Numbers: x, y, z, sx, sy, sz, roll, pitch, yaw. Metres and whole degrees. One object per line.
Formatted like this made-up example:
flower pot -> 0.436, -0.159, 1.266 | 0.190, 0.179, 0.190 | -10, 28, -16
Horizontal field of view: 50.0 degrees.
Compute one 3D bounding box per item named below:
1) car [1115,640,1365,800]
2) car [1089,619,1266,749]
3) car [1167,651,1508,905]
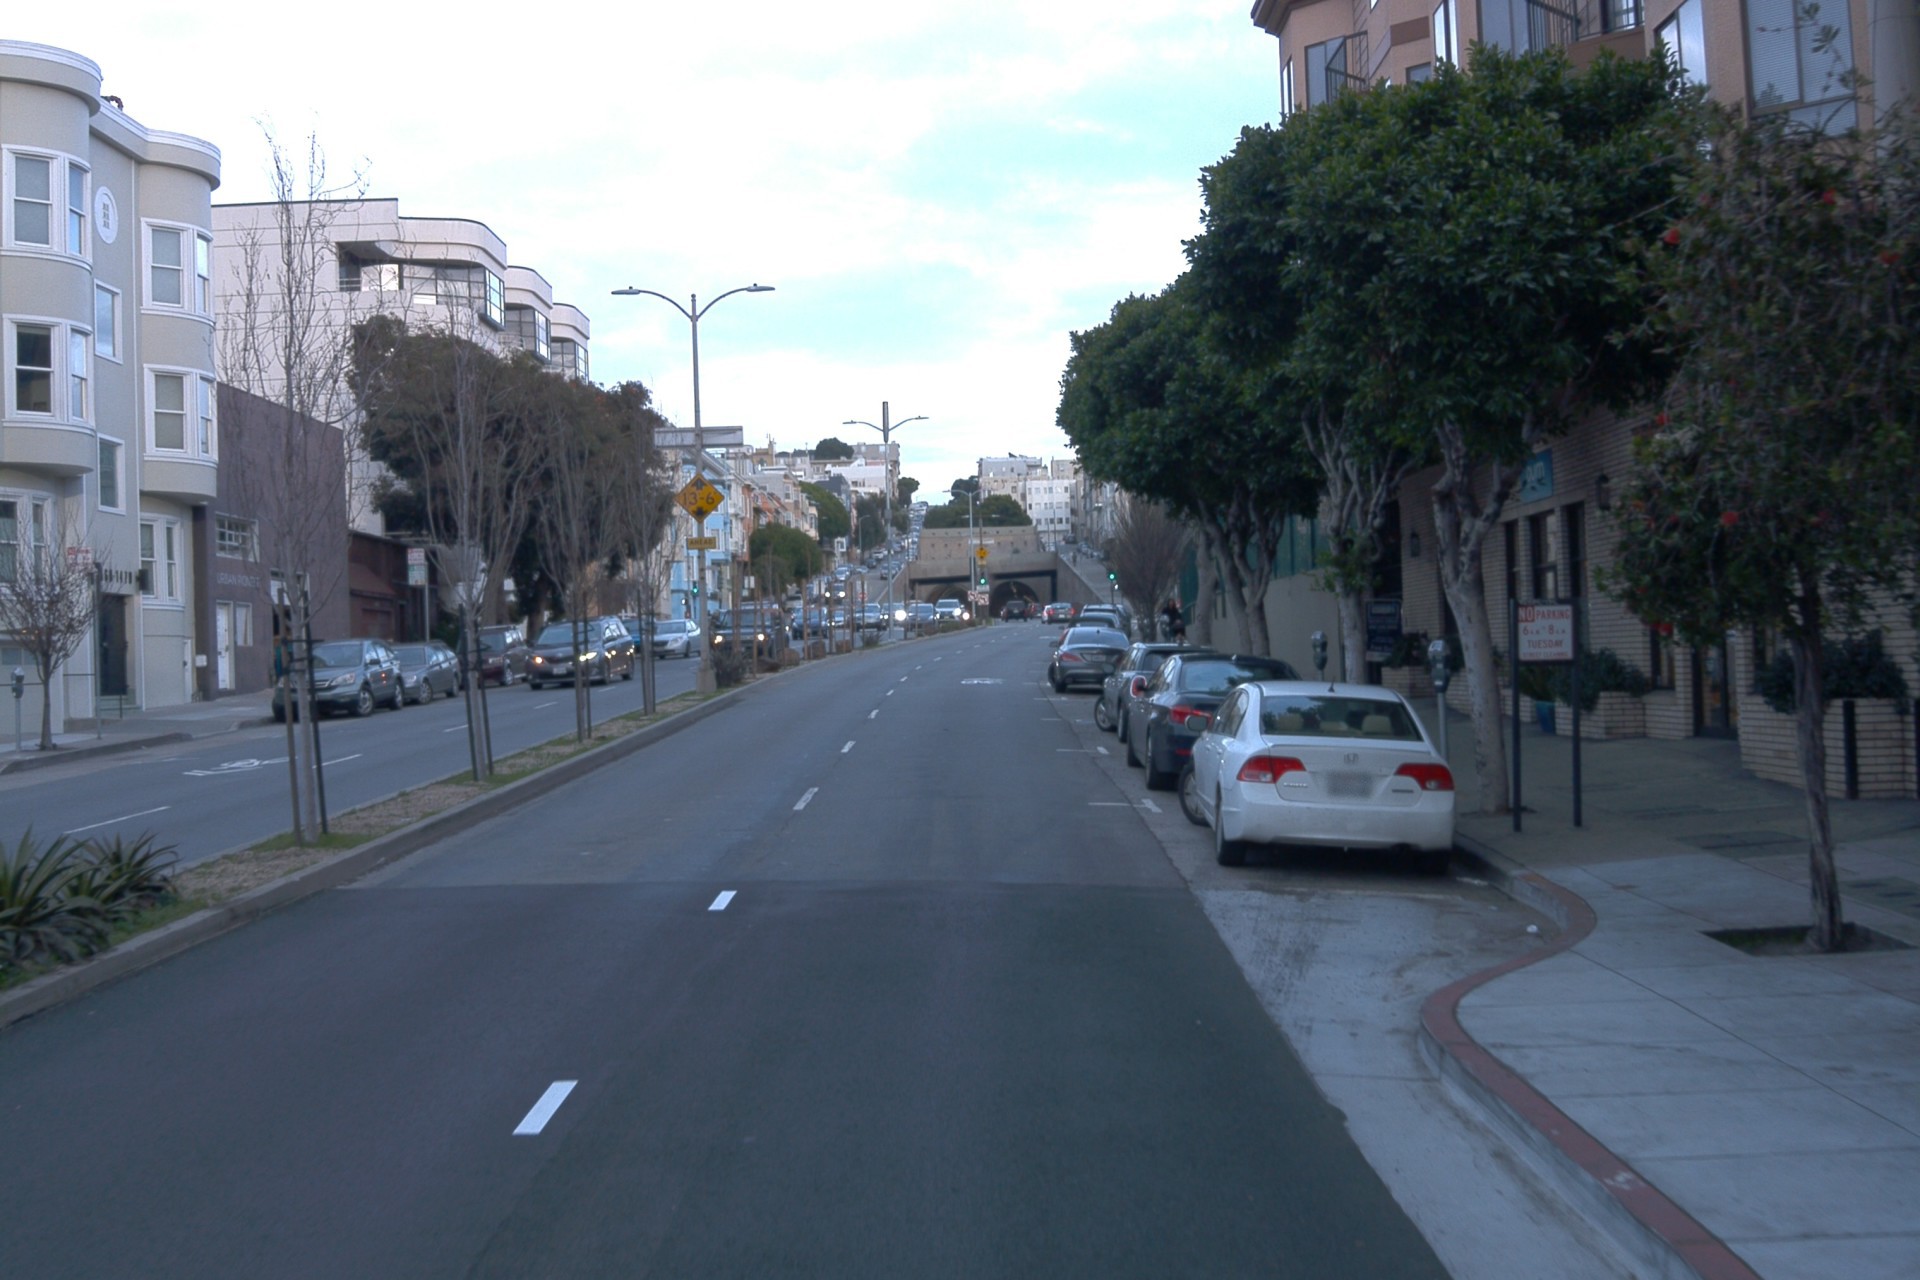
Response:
car -> 2.996, 0.804, 23.179 | 2.151, 1.530, 5.003 | 1, 1, 0
car -> 3.117, 0.580, 30.353 | 1.990, 1.770, 4.209 | 1, 1, -2
car -> 2.970, 1.013, 17.260 | 2.061, 1.750, 4.614 | 1, 1, 1
